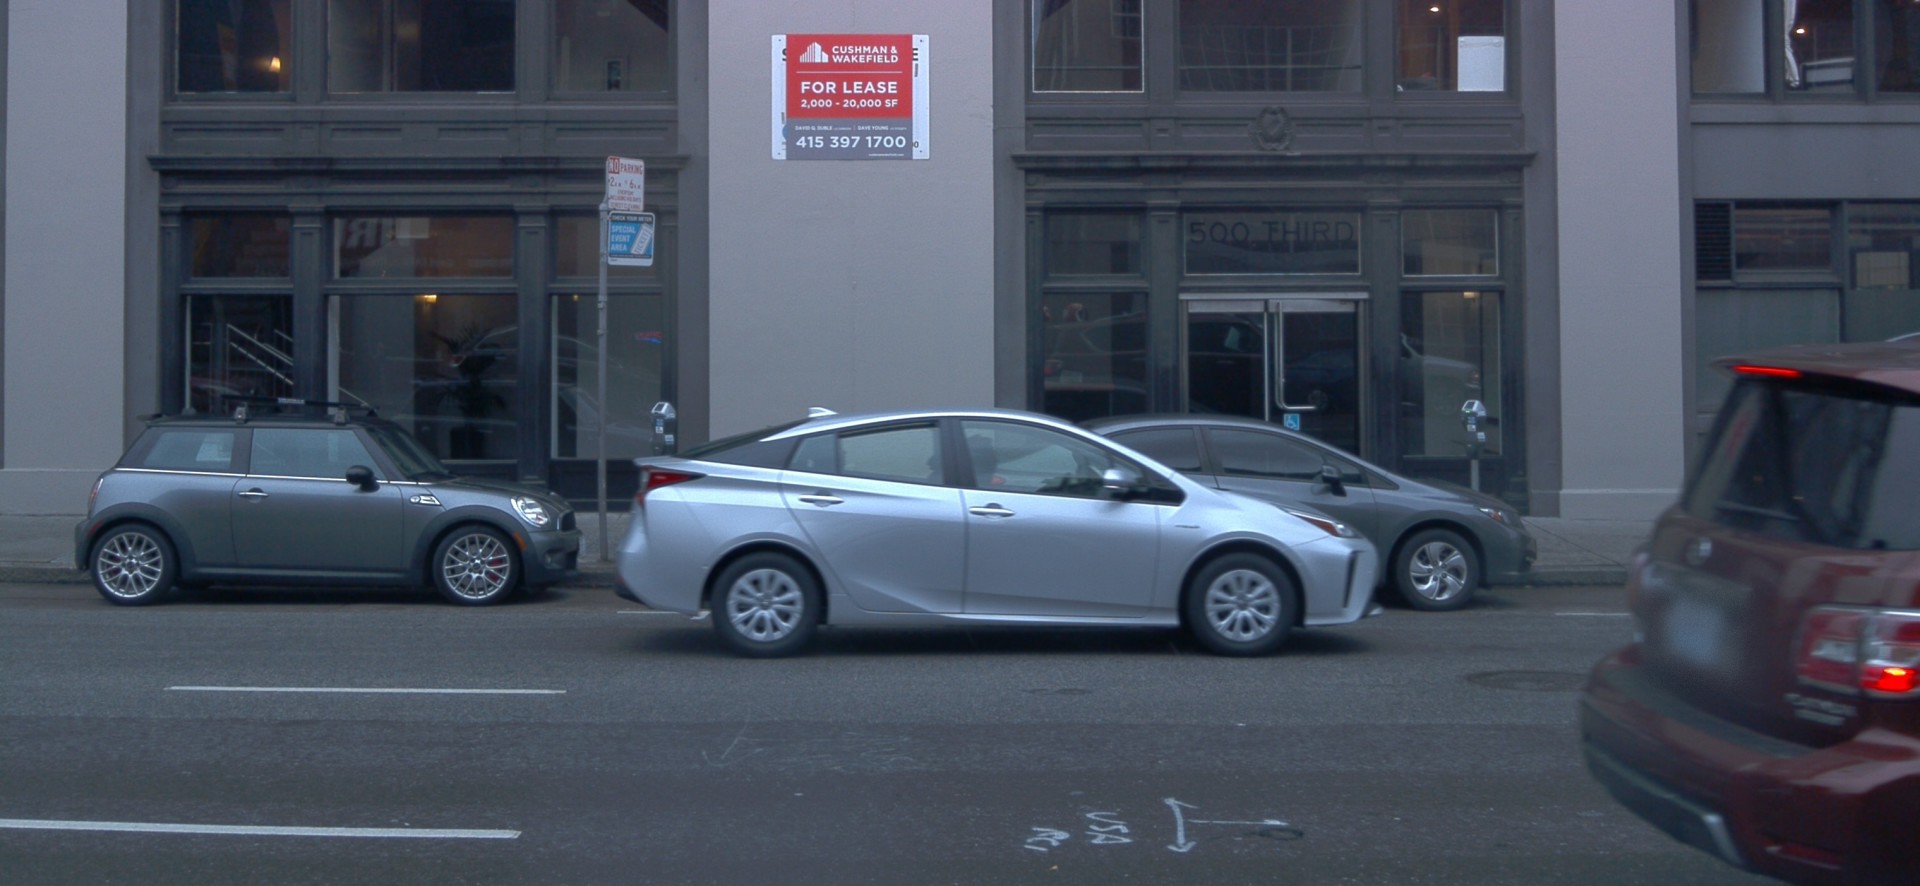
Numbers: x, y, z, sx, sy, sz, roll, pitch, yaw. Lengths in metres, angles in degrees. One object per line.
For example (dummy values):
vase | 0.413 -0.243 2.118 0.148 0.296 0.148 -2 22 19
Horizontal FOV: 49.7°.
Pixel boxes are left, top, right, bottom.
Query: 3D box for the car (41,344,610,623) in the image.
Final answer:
car | -4.702 0.241 15.836 3.807 1.877 1.865 0 3 -3

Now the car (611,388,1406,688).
car | 0.258 0.509 12.910 4.552 1.536 2.080 0 4 -2

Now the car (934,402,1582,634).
car | 2.133 0.511 15.851 4.616 1.477 2.025 0 4 -2
